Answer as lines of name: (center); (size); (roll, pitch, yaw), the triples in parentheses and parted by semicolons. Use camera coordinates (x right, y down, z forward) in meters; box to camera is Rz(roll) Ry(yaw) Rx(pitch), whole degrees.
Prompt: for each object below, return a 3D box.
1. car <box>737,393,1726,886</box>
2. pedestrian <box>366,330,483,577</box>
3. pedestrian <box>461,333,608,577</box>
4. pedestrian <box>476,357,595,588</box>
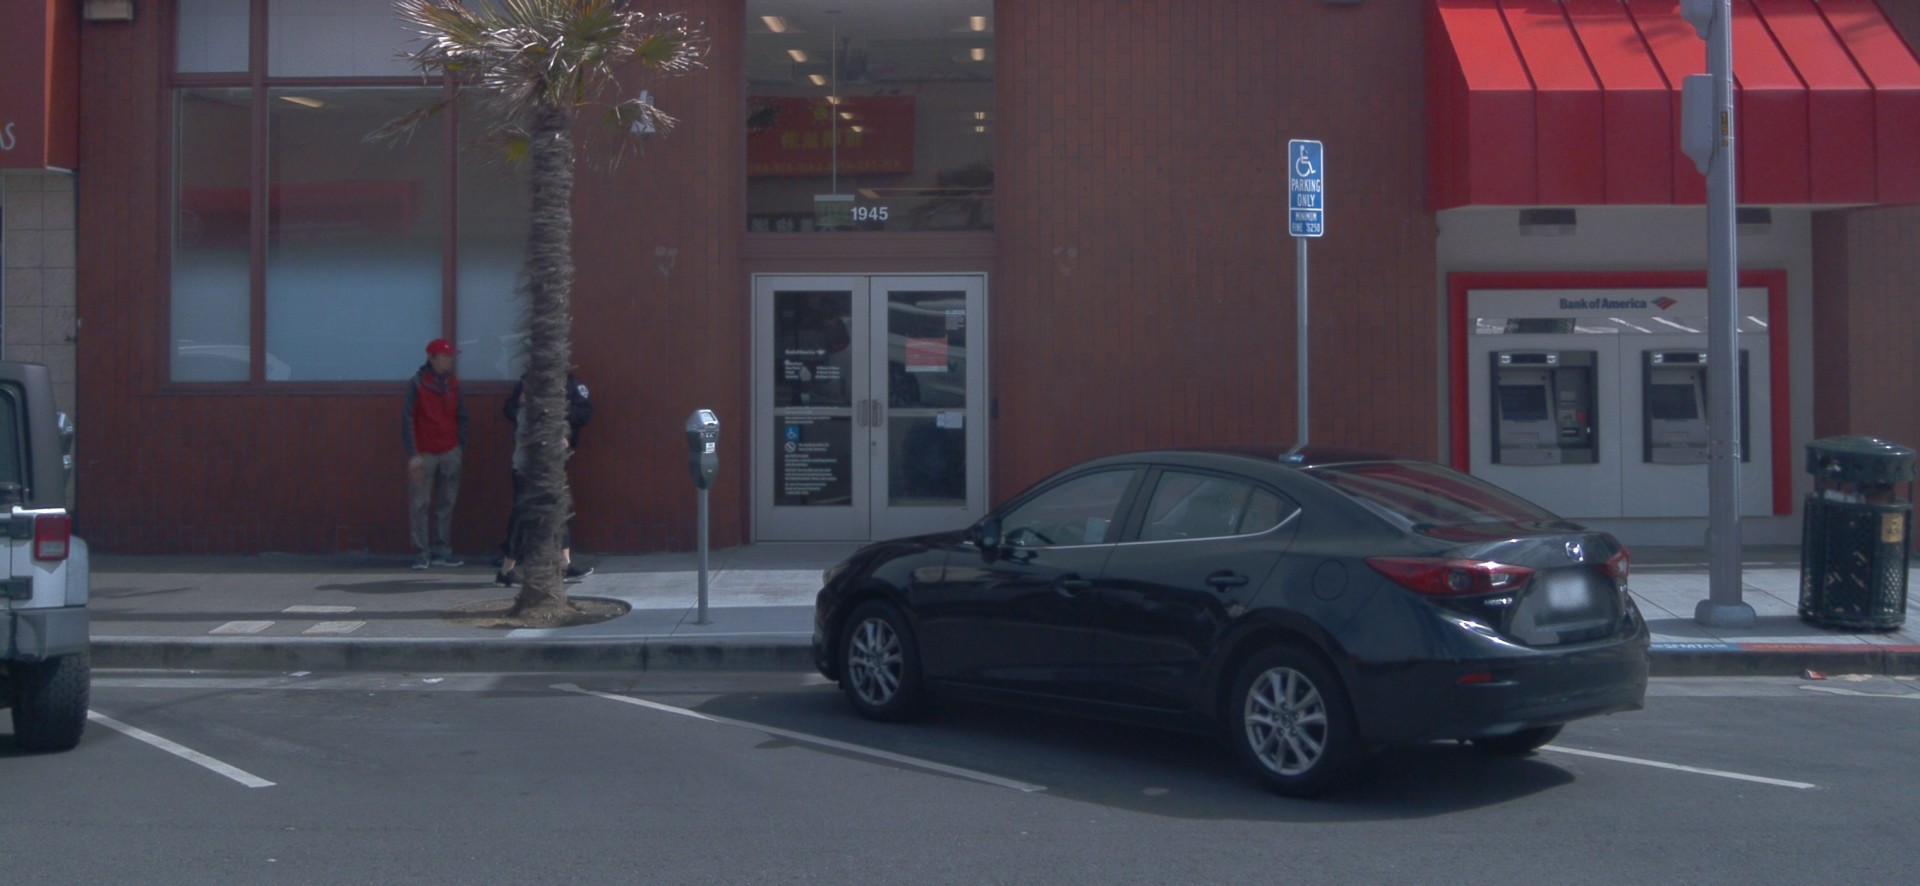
car: (1.090, 0.689, 10.160); (2.030, 1.473, 4.587); (-3, 6, -42)
pedestrian: (-4.004, 0.049, 15.490); (0.725, 1.743, 0.695); (0, 1, -26)
pedestrian: (-3.193, 0.065, 15.608); (0.862, 1.740, 0.685); (1, 1, 16)
pedestrian: (-2.976, 0.185, 14.608); (0.754, 1.537, 0.693); (0, 1, -6)
